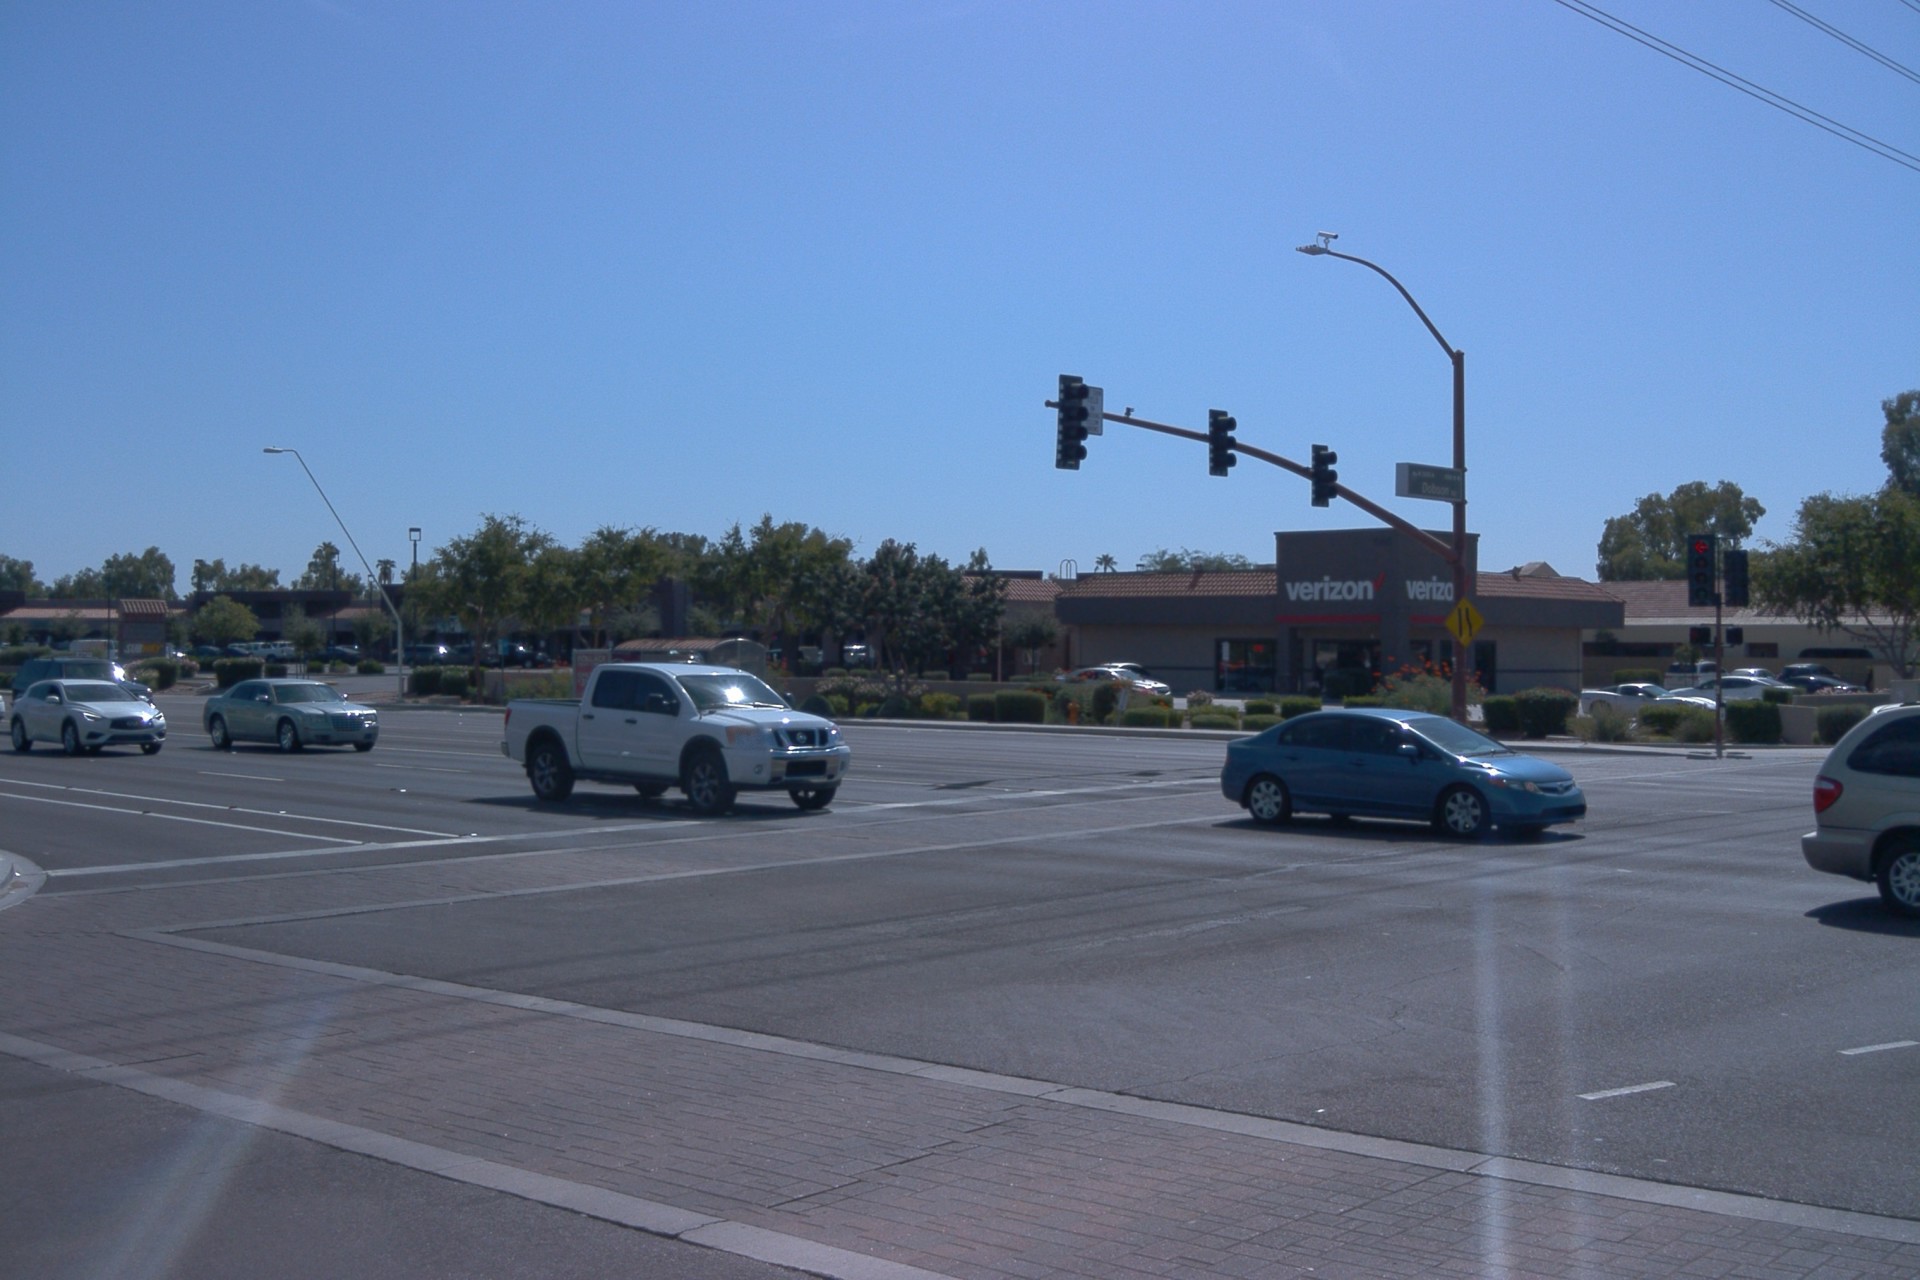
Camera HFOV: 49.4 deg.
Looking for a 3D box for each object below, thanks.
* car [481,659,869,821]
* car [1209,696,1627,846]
[{"bbox_3d":[-4.036,1.270,28.796,5.691,2.010,2.278,0,-1,45],"label":"car"},{"bbox_3d":[5.375,1.474,24.862,4.446,1.540,2.057,0,-1,44],"label":"car"}]
